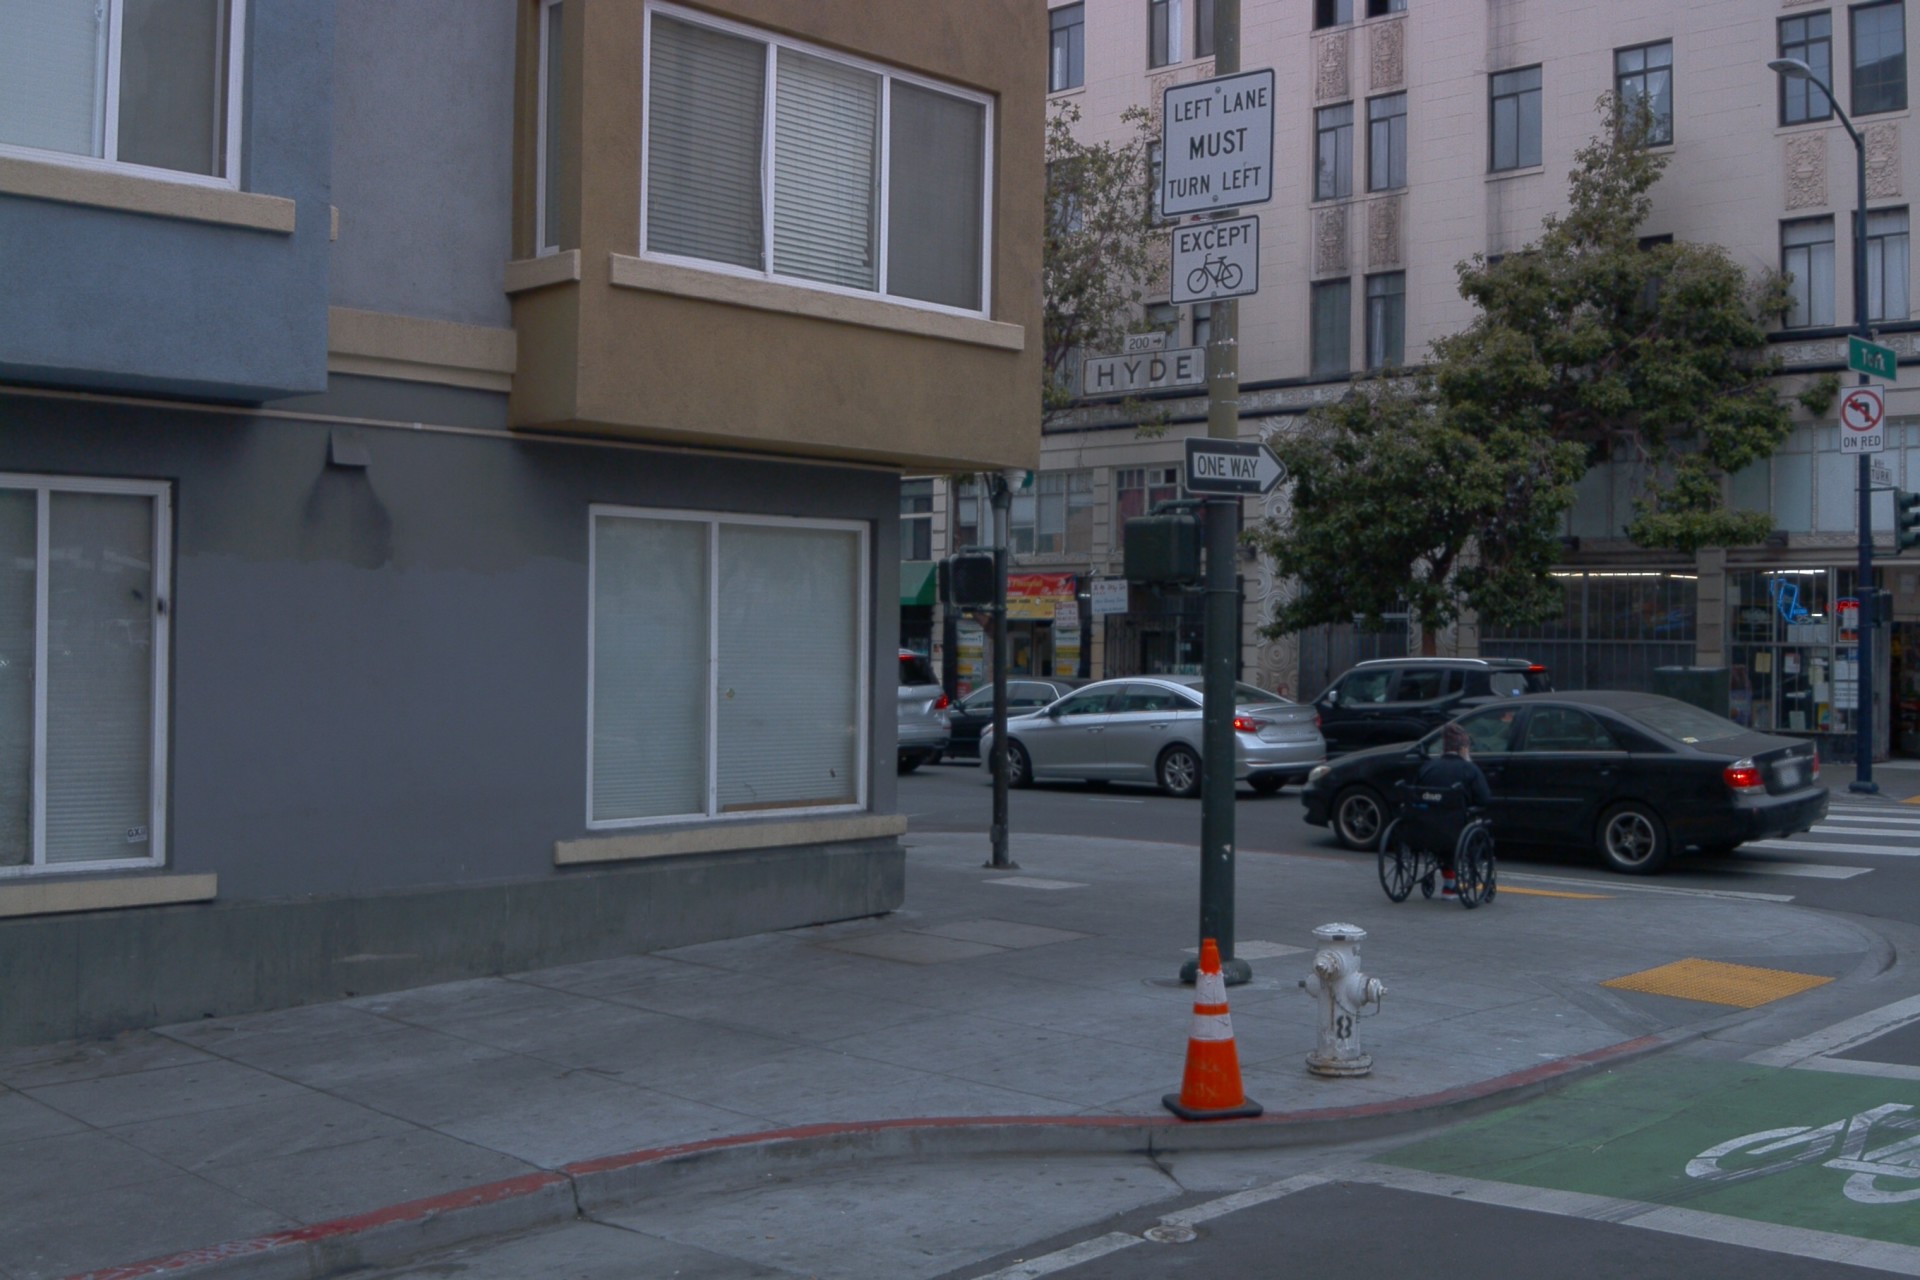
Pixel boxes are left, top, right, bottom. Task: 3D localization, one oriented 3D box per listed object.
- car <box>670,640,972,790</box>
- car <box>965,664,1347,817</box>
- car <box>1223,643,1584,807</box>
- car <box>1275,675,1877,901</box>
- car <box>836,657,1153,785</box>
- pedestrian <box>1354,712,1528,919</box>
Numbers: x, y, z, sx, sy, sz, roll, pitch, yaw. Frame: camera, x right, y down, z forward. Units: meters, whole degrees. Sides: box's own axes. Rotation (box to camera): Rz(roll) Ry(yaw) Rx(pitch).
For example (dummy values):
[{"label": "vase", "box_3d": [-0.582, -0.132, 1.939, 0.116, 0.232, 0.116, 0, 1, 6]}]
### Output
[{"label": "car", "box_3d": [-2.128, 1.030, 30.588, 2.026, 1.970, 4.585, -1, 1, -43]}, {"label": "car", "box_3d": [2.365, 1.174, 25.868, 1.939, 1.600, 4.599, -1, 1, -44]}, {"label": "car", "box_3d": [5.701, 1.019, 26.878, 1.925, 1.870, 4.231, -1, 1, -45]}, {"label": "car", "box_3d": [5.411, 1.202, 18.625, 2.070, 1.600, 4.803, -1, 1, -44]}, {"label": "car", "box_3d": [0.471, 1.195, 32.301, 4.786, 1.723, 2.180, 1, 1, 45]}, {"label": "pedestrian", "box_3d": [3.504, 1.246, 15.015, 0.883, 1.370, 1.026, 1, 1, 38]}]
